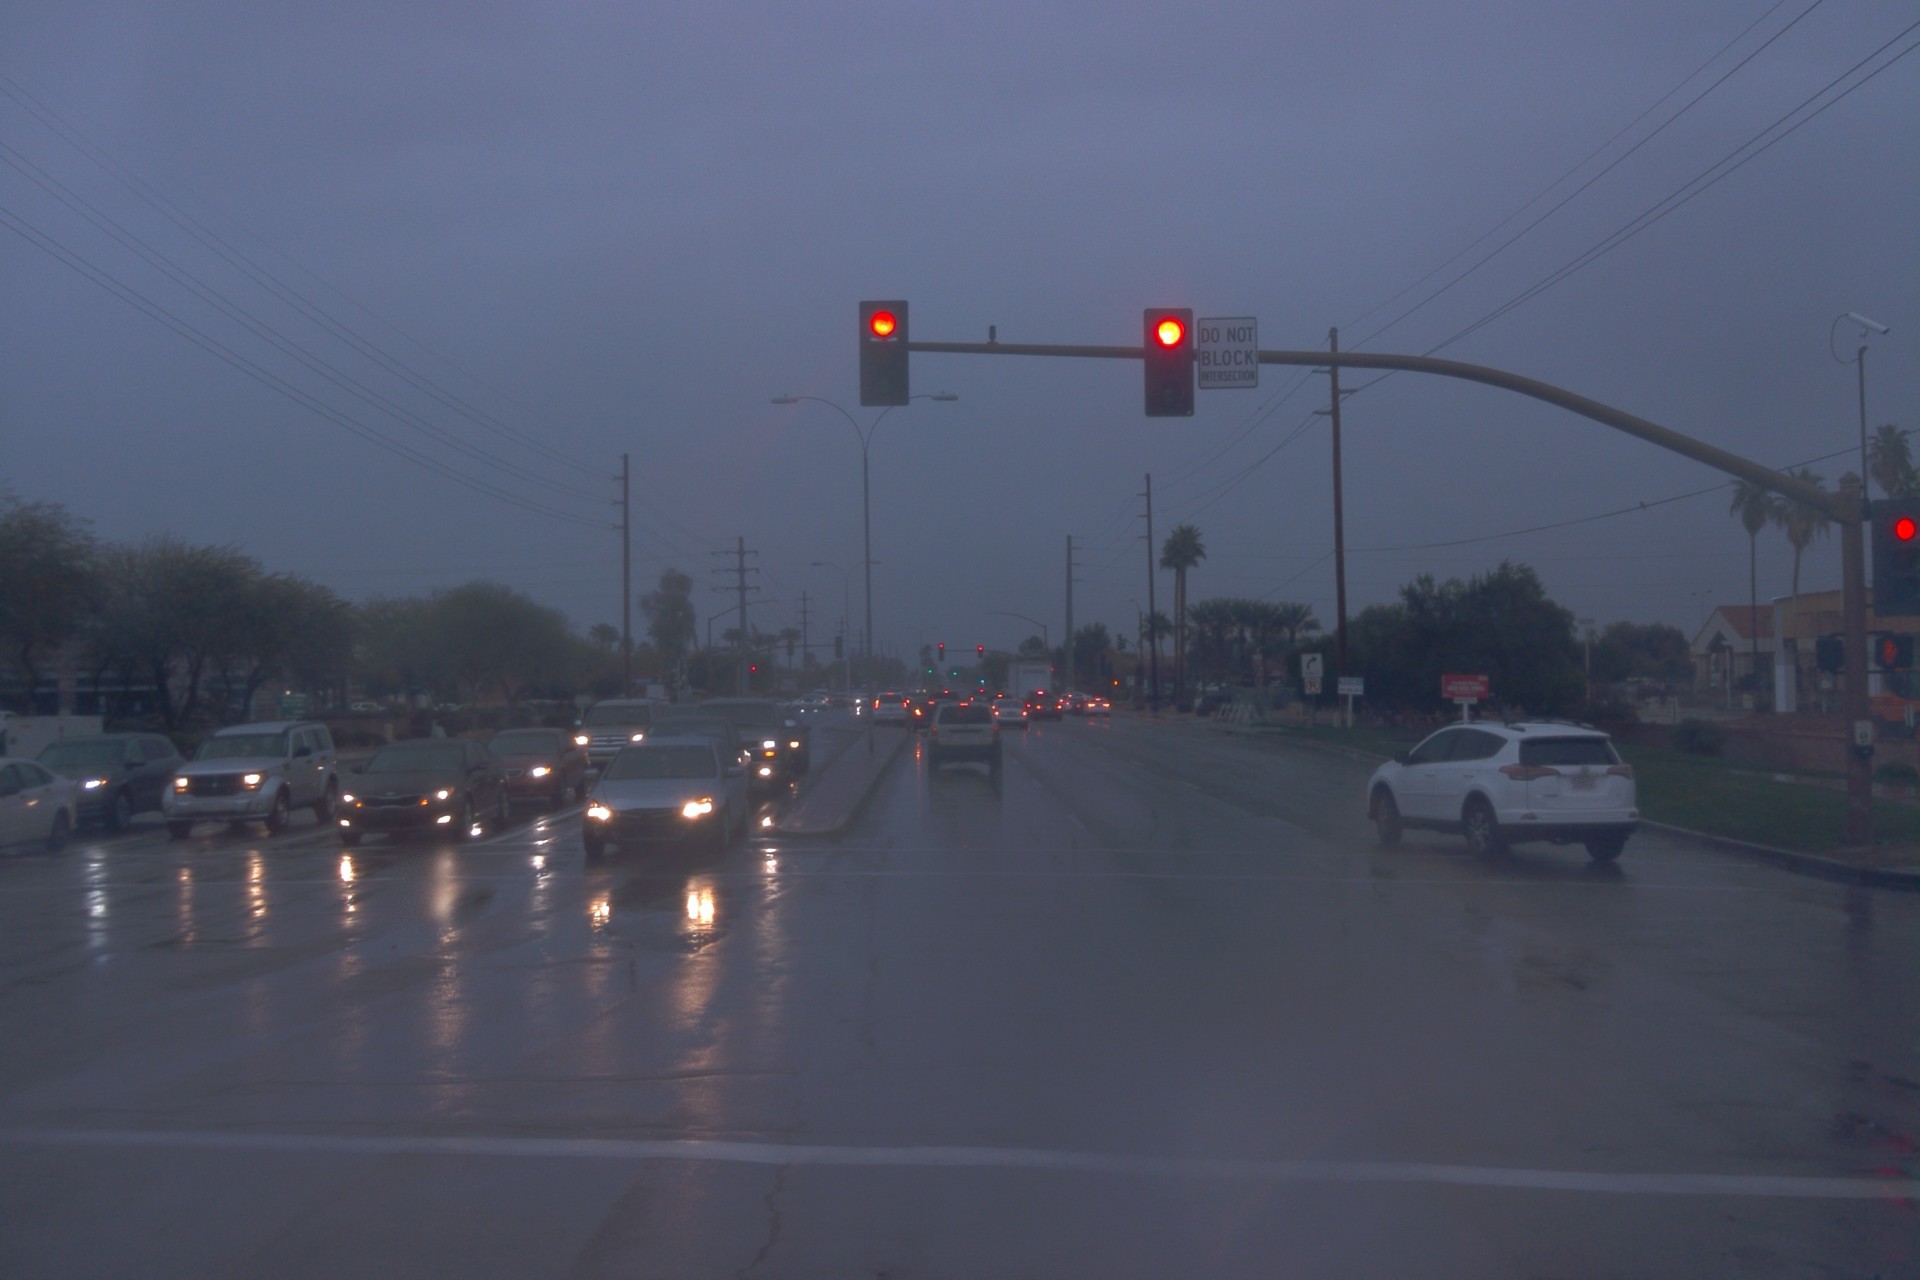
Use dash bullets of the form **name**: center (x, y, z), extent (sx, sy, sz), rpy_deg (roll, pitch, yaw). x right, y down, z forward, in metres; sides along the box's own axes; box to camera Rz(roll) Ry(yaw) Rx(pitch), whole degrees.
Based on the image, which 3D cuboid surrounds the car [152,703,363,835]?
- **car**: center (-11.721, 2.099, 35.012), extent (2.052, 2.020, 4.497), rpy_deg (0, -1, 0)

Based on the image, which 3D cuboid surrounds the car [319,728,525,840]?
- **car**: center (-8.040, 2.118, 31.497), extent (2.042, 1.440, 4.763), rpy_deg (0, -1, -2)

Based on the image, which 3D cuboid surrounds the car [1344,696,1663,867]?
- **car**: center (6.779, 1.709, 26.505), extent (2.021, 1.940, 4.553), rpy_deg (0, -1, -13)

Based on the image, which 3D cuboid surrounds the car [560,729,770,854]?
- **car**: center (-3.794, 1.935, 27.539), extent (2.102, 1.410, 4.605), rpy_deg (0, -1, 1)
